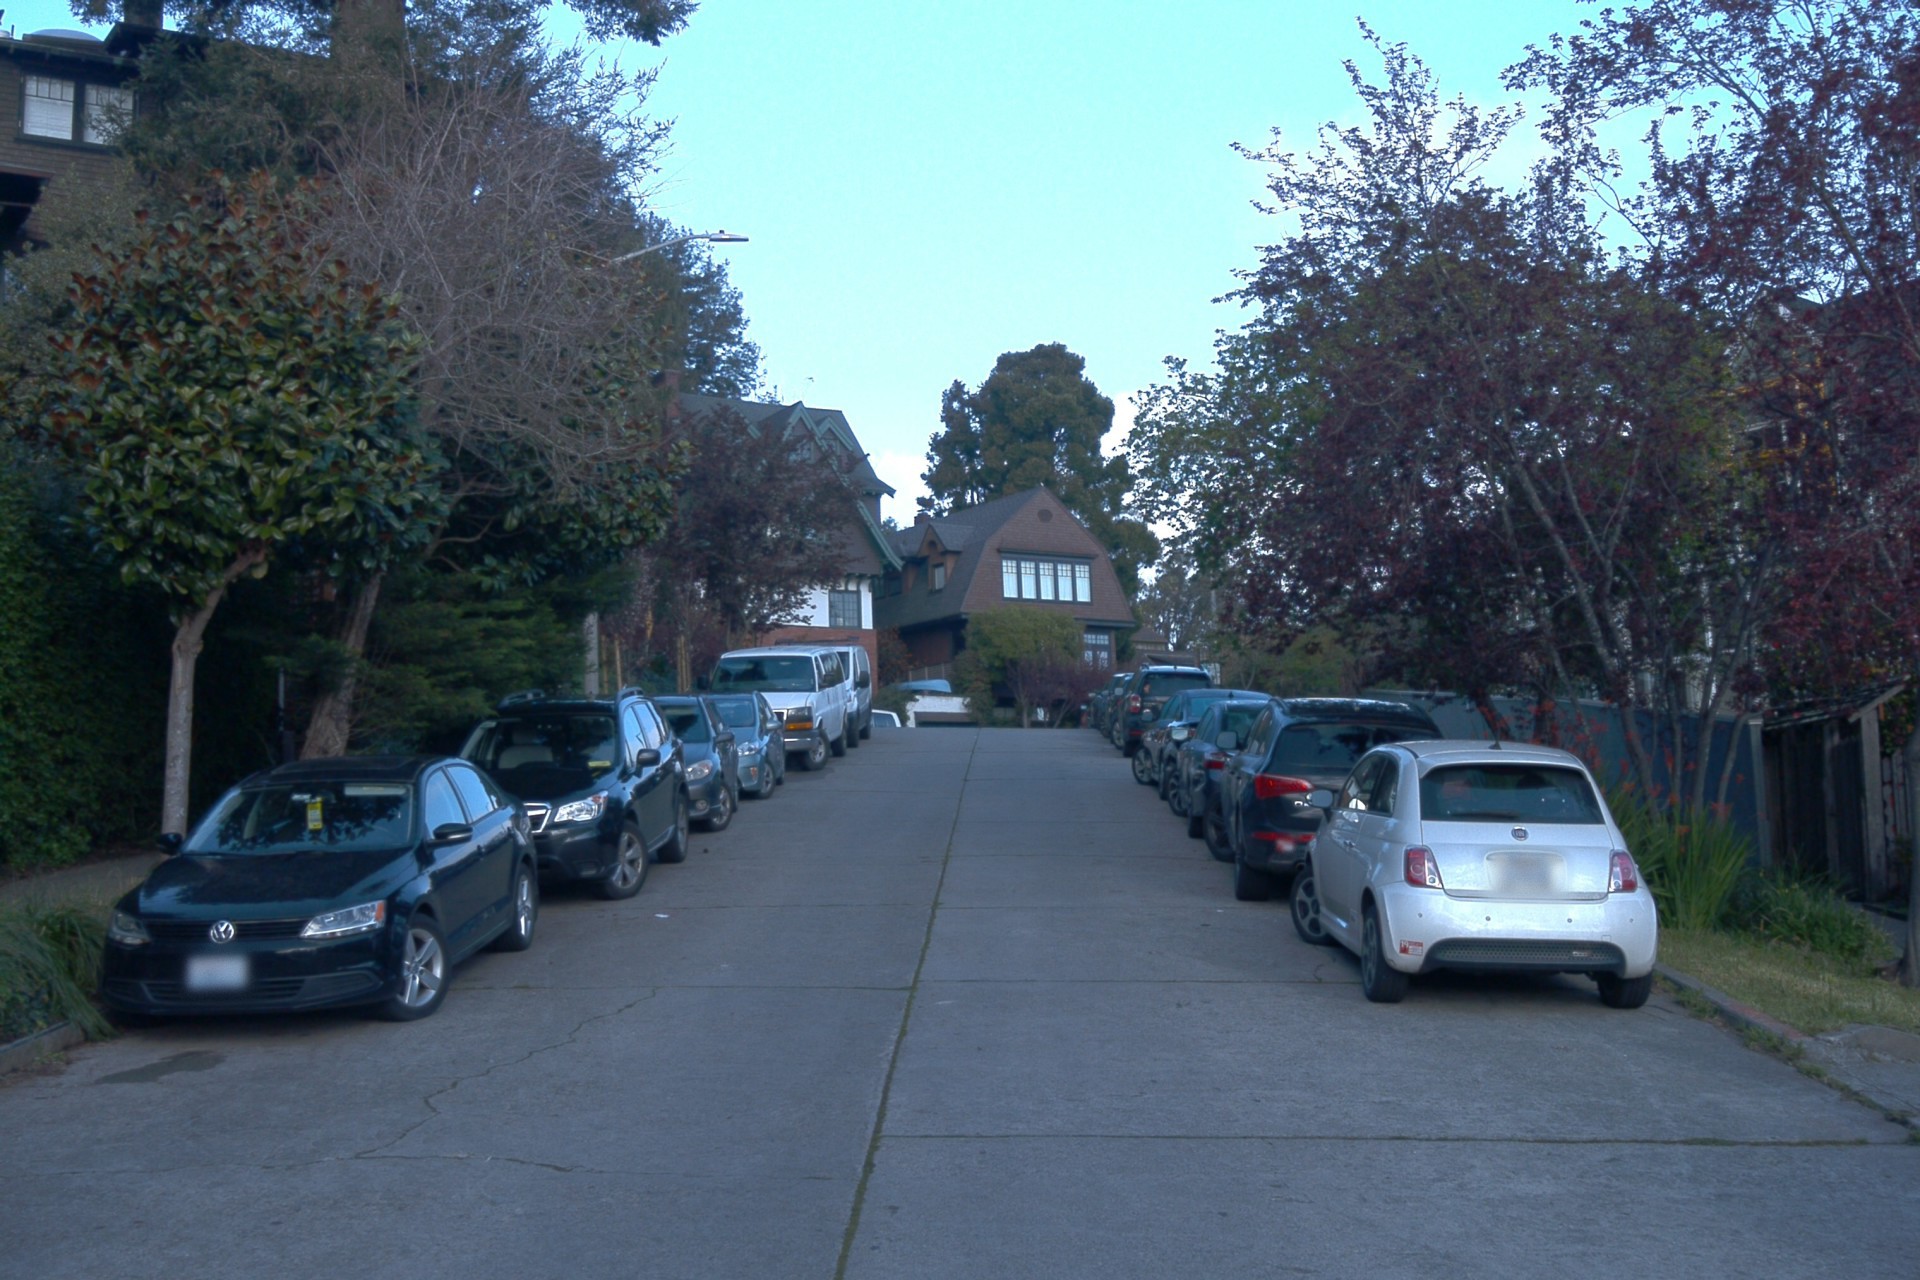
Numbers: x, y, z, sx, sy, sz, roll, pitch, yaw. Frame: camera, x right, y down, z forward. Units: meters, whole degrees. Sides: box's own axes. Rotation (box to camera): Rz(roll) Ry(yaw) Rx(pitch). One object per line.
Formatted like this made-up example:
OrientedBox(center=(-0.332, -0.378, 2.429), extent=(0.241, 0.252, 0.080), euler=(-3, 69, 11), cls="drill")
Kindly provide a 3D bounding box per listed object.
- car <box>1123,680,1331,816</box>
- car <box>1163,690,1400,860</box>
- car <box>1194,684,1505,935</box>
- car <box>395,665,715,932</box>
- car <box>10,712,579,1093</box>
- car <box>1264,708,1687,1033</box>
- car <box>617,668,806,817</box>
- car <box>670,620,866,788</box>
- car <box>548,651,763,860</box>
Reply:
OrientedBox(center=(3.565, 1.404, 28.482), extent=(2.199, 1.617, 5.002), euler=(0, 0, 0), cls="car")
OrientedBox(center=(3.475, 1.417, 23.153), extent=(2.089, 1.581, 4.818), euler=(0, 0, 2), cls="car")
OrientedBox(center=(3.246, 1.344, 18.160), extent=(2.178, 1.798, 4.801), euler=(0, 0, 4), cls="car")
OrientedBox(center=(-3.478, 1.279, 18.598), extent=(1.892, 2.043, 4.697), euler=(0, 0, 1), cls="car")
OrientedBox(center=(-3.904, 1.450, 13.115), extent=(2.064, 1.817, 4.780), euler=(0, 0, 0), cls="car")
OrientedBox(center=(3.155, 1.348, 13.371), extent=(1.798, 1.690, 3.710), euler=(0, 0, 0), cls="car")
OrientedBox(center=(-3.453, 1.386, 29.457), extent=(2.088, 1.898, 4.626), euler=(0, 0, 1), cls="car")
OrientedBox(center=(-3.235, 1.024, 36.251), extent=(2.605, 2.694, 6.253), euler=(0, 0, 2), cls="car")
OrientedBox(center=(-3.504, 1.259, 24.527), extent=(1.968, 2.243, 4.423), euler=(0, 0, -1), cls="car")
